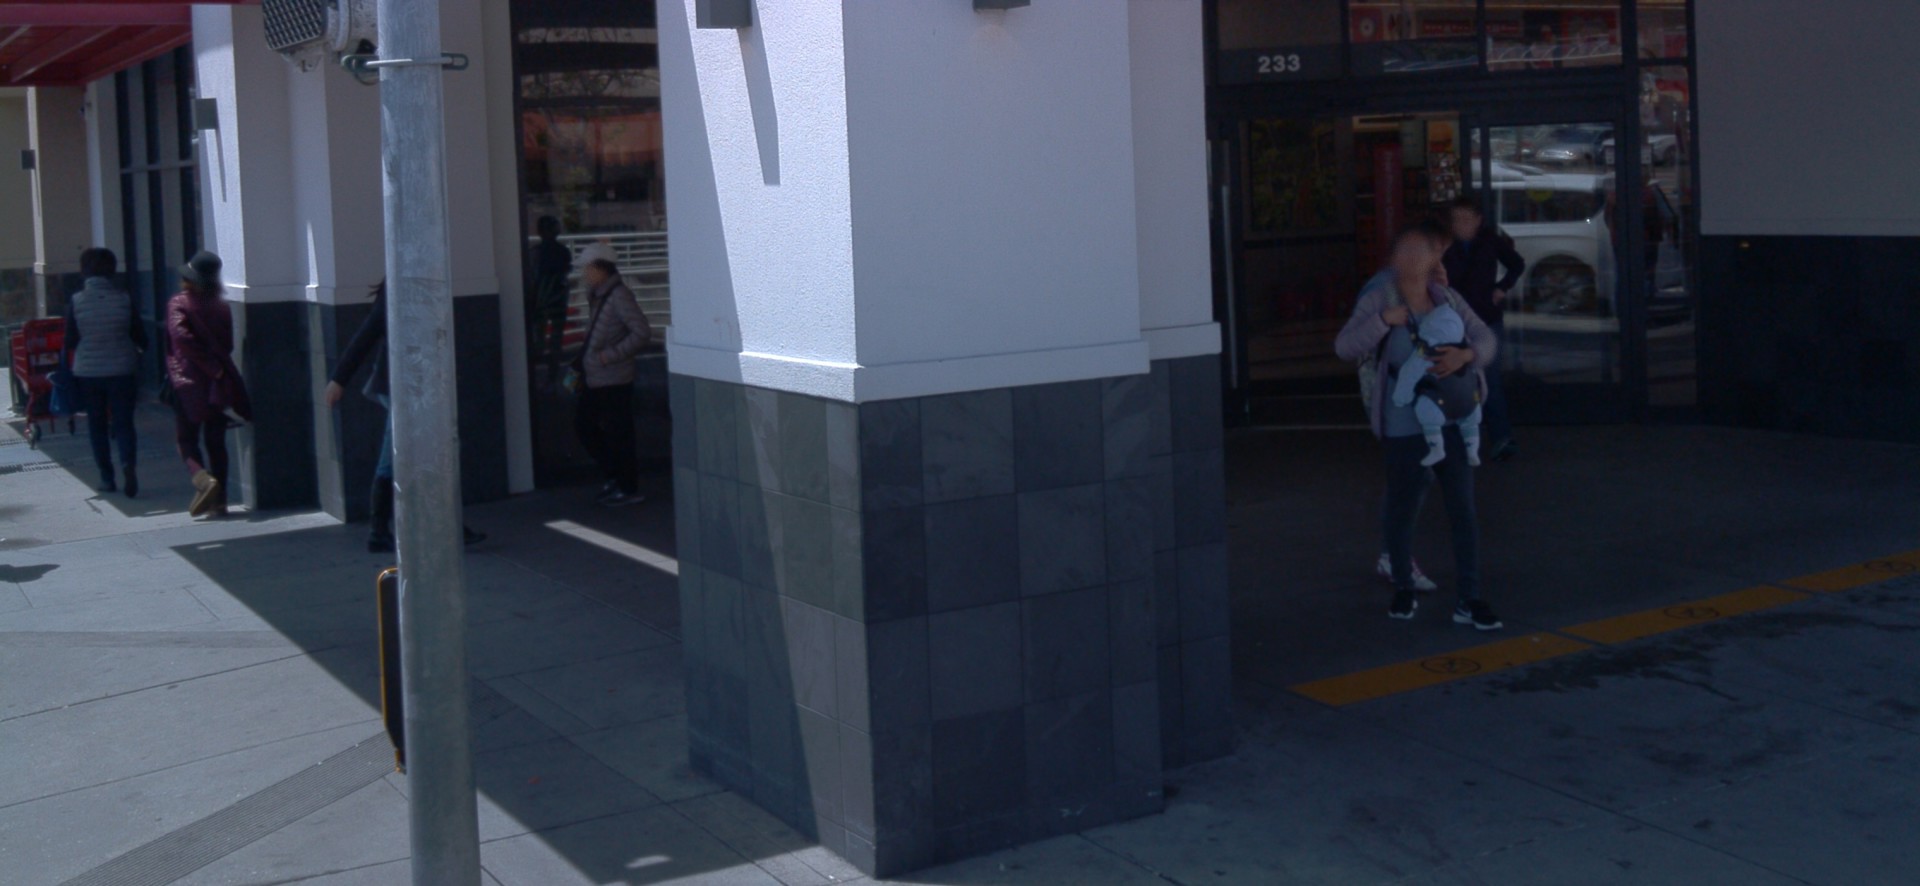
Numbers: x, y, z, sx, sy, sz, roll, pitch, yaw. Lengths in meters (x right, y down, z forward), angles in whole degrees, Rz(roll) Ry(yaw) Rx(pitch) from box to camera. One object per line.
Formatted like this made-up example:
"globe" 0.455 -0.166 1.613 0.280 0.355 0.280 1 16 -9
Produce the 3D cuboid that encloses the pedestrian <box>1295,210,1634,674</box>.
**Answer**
"pedestrian" 1.938 -0.058 8.070 1.072 1.699 1.067 0 2 0

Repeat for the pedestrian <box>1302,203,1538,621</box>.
"pedestrian" 1.929 -0.169 8.737 0.823 1.689 0.883 0 1 1

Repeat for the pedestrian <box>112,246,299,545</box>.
"pedestrian" -4.464 -0.322 12.147 0.815 1.679 0.818 -1 2 -39

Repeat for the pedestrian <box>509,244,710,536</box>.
"pedestrian" -2.016 -0.346 11.757 0.967 1.579 0.956 -1 2 -21

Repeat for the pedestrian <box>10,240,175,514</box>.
"pedestrian" -5.634 -0.468 13.329 0.888 1.699 0.832 -1 1 -30

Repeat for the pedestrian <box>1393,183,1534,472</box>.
"pedestrian" 3.020 -0.714 12.277 0.780 1.649 0.894 0 1 16

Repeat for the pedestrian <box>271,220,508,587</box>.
"pedestrian" -2.884 -0.238 10.472 0.937 1.789 0.828 0 1 4
